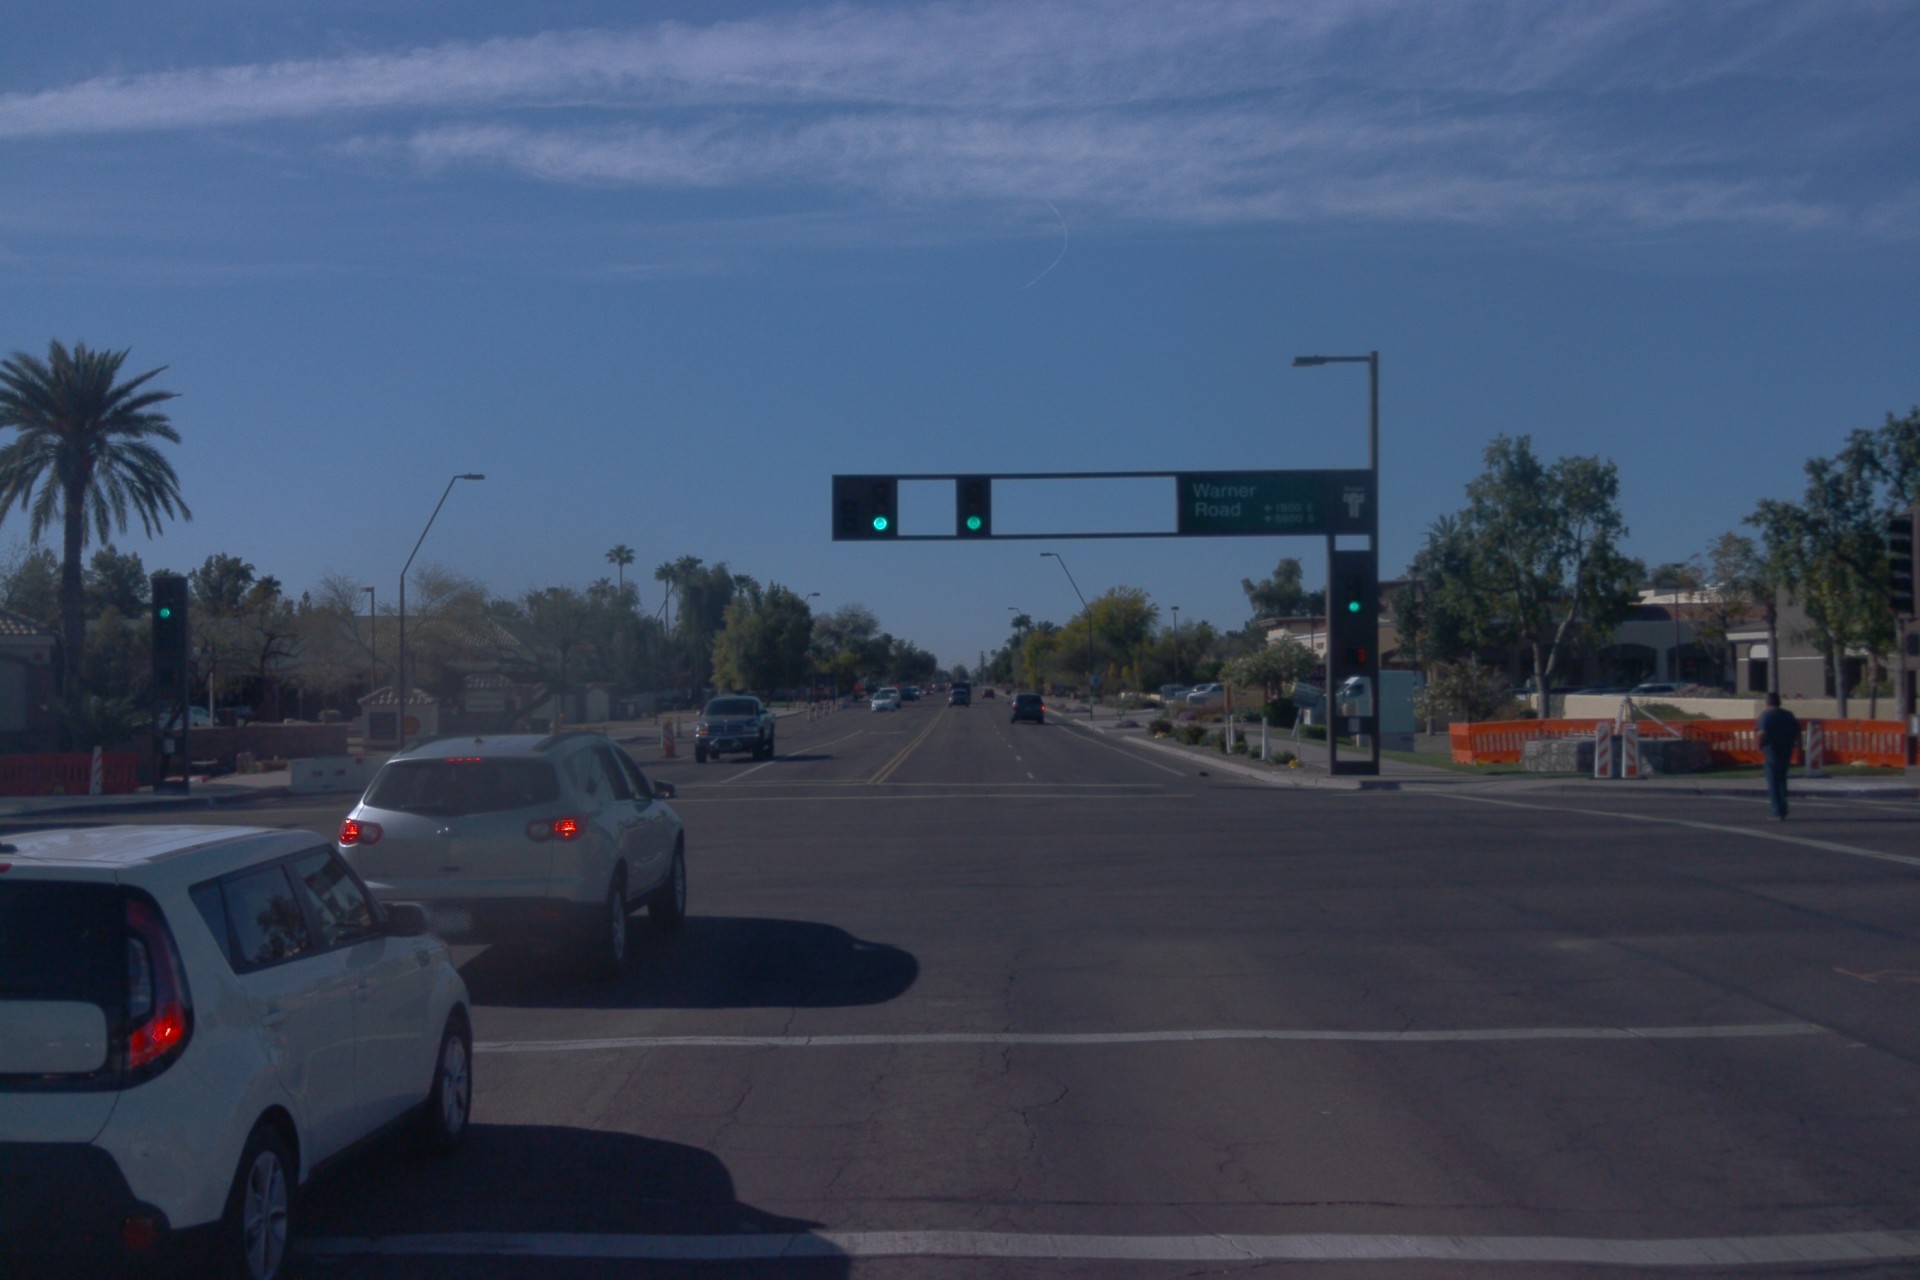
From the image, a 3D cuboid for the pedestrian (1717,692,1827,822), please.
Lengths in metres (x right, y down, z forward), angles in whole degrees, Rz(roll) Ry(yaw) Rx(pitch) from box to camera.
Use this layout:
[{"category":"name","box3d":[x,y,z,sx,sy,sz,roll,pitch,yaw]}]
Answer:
[{"category":"pedestrian","box3d":[11.222,1.600,28.798,1.027,1.760,0.980,0,-1,-14]}]

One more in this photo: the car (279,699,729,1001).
[{"category":"car","box3d":[-3.327,1.473,16.384,2.259,1.970,4.992,0,-1,2]}]
